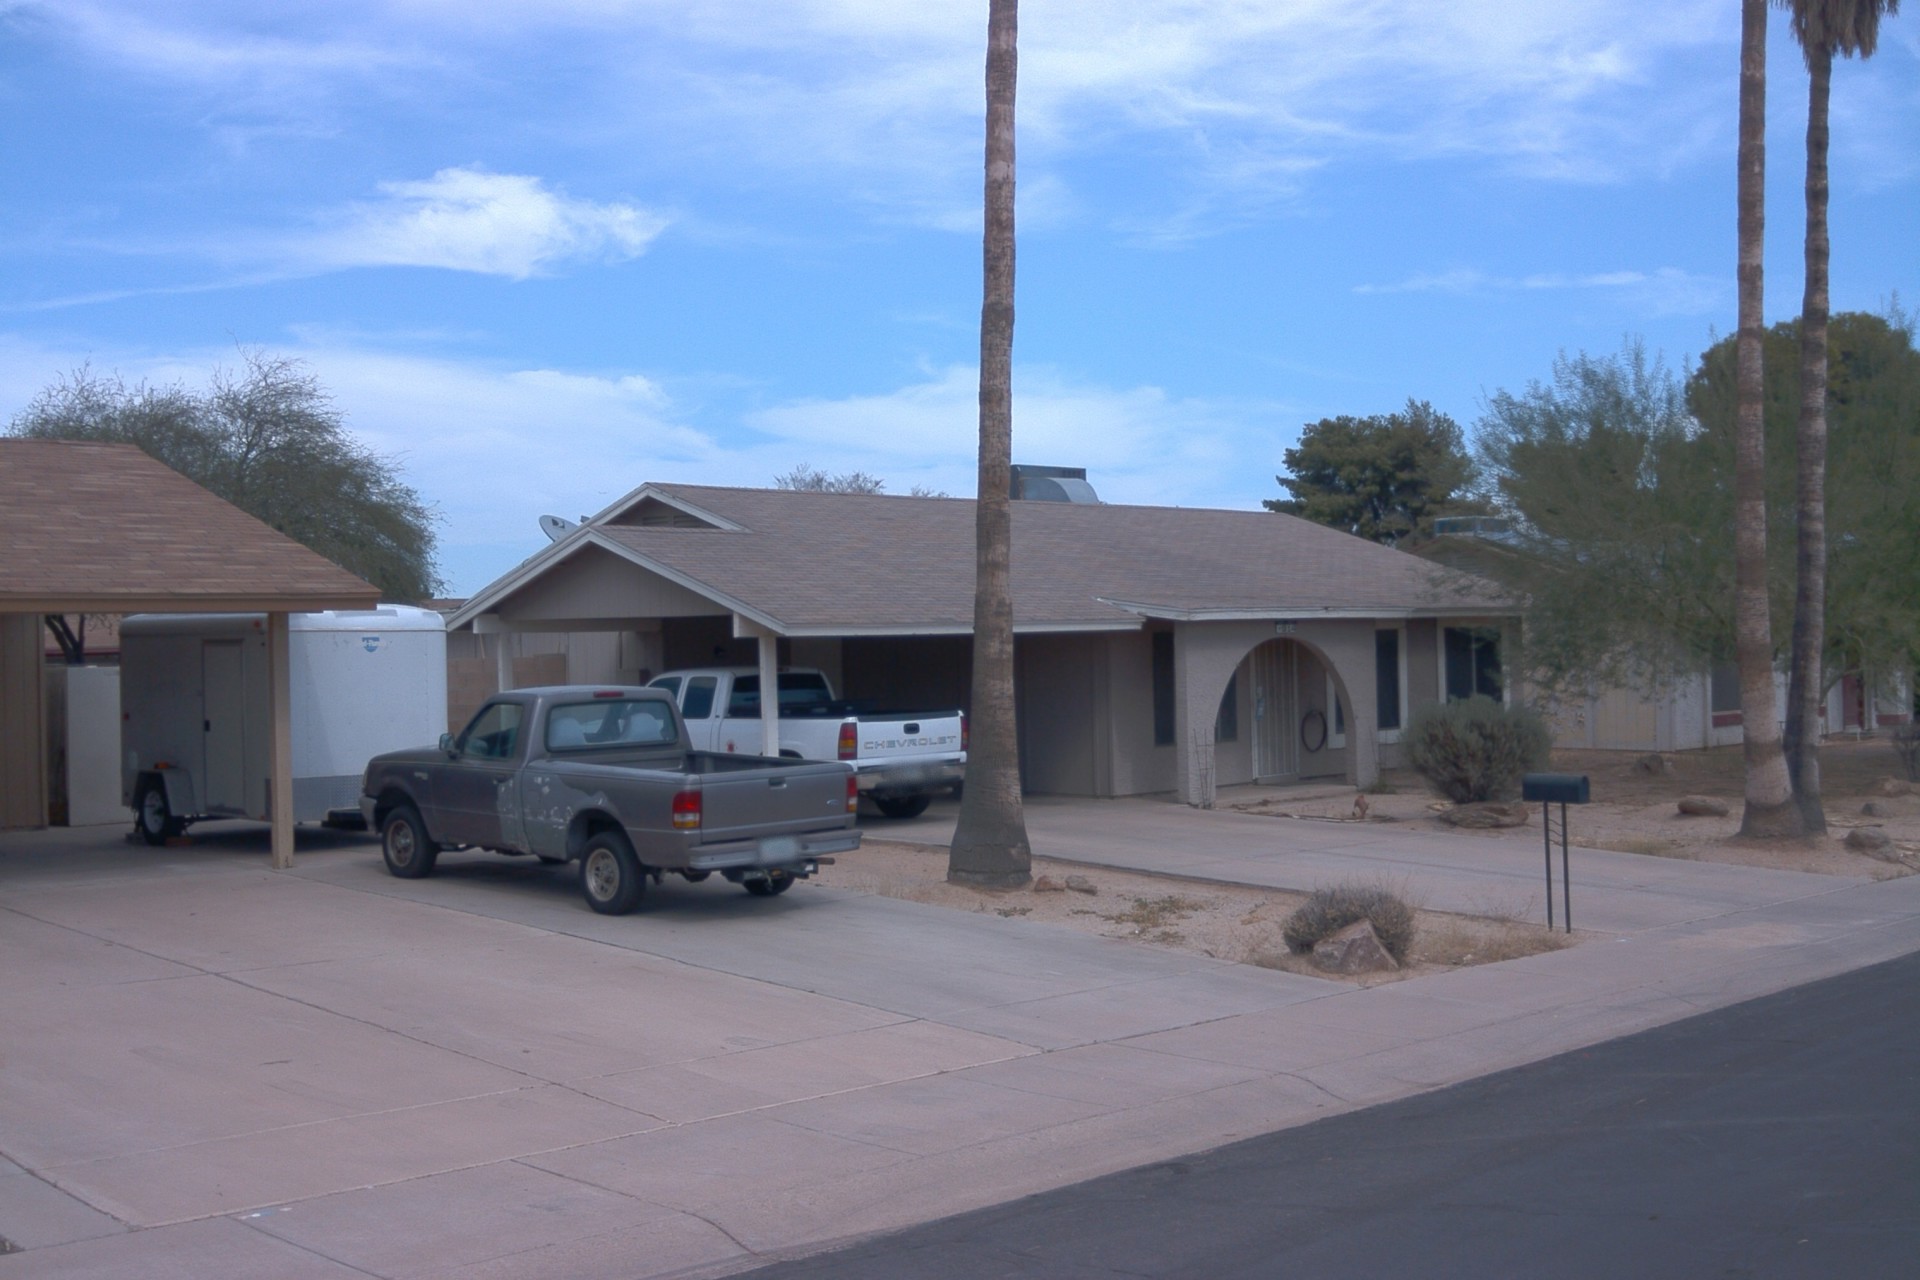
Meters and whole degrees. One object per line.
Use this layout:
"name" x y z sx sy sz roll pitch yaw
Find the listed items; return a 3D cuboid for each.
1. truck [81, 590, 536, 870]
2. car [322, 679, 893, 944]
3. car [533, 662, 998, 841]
"truck" -6.451 0.782 20.360 4.573 2.400 2.372 0 0 45
"car" -2.977 1.231 16.838 4.849 1.760 2.087 0 0 44
"car" -2.449 1.204 24.867 5.674 1.860 2.469 0 0 45
